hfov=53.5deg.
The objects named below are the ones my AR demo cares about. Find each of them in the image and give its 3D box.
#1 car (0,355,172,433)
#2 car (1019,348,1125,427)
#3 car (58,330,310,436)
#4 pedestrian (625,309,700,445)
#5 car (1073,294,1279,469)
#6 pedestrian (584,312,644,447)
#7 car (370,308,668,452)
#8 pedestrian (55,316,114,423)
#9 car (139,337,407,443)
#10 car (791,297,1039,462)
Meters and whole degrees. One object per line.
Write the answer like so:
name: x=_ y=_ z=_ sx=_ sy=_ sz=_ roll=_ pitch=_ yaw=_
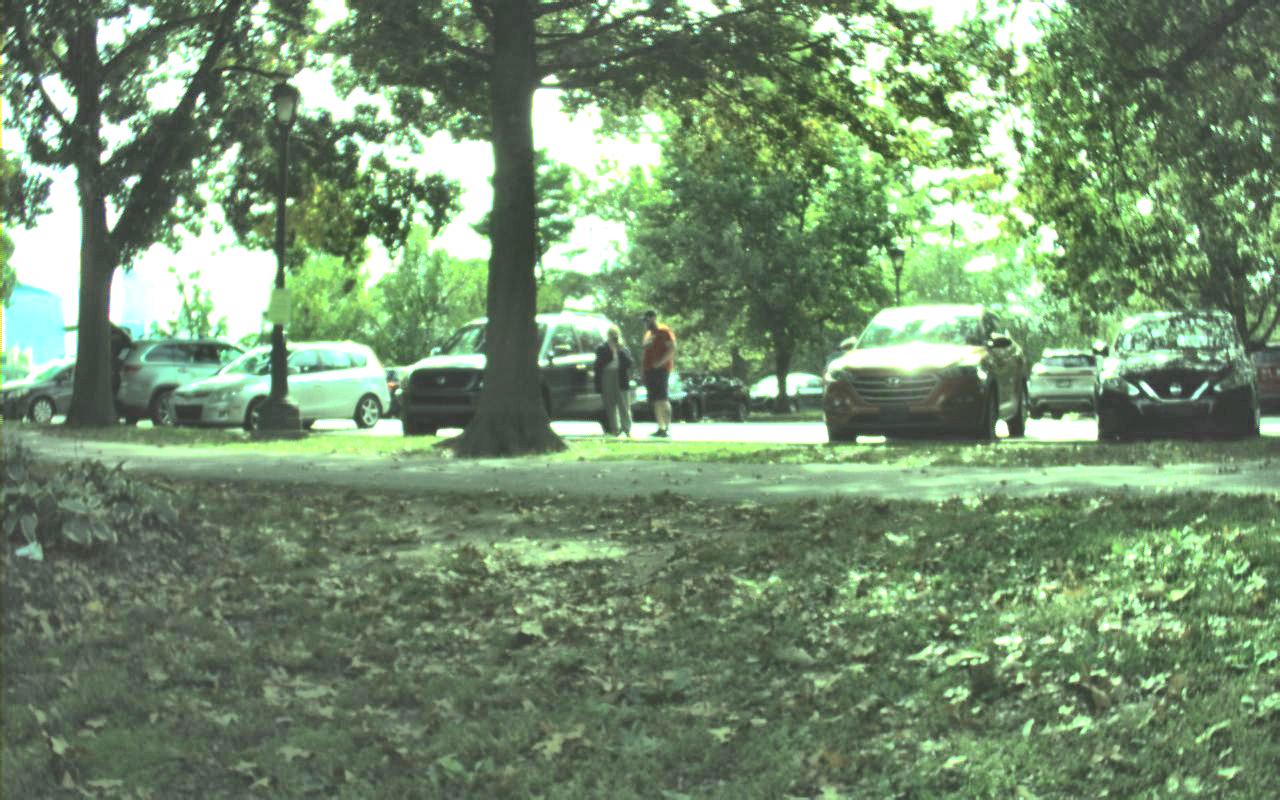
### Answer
car: x=-12.556 y=-0.102 z=25.411 sx=1.948 sy=1.605 sz=4.416 roll=1 pitch=1 yaw=33
car: x=10.173 y=-0.295 z=28.239 sx=1.968 sy=1.688 sz=4.486 roll=1 pitch=1 yaw=27
car: x=-8.507 y=-0.300 z=22.201 sx=1.992 sy=1.790 sz=4.611 roll=1 pitch=1 yaw=39
pedestrian: x=0.319 y=-0.326 z=17.878 sx=0.766 sy=1.869 sz=0.759 roll=1 pitch=0 yaw=31
car: x=6.051 y=-0.193 z=12.809 sx=1.958 sy=1.604 sz=4.512 roll=1 pitch=1 yaw=30
pedestrian: x=-0.373 y=-0.280 z=17.524 sx=0.774 sy=1.815 sz=0.756 roll=0 pitch=0 yaw=-5
car: x=-1.533 y=-0.299 z=17.666 sx=2.046 sy=1.723 sz=4.625 roll=1 pitch=1 yaw=27
pedestrian: x=-9.988 y=-0.499 z=20.699 sx=0.968 sy=1.880 sz=0.890 roll=0 pitch=0 yaw=-37
car: x=-6.170 y=-0.186 z=20.721 sx=1.952 sy=1.608 sz=4.627 roll=1 pitch=1 yaw=31
car: x=3.433 y=-0.249 z=14.633 sx=1.968 sy=1.628 sz=4.544 roll=1 pitch=1 yaw=26
